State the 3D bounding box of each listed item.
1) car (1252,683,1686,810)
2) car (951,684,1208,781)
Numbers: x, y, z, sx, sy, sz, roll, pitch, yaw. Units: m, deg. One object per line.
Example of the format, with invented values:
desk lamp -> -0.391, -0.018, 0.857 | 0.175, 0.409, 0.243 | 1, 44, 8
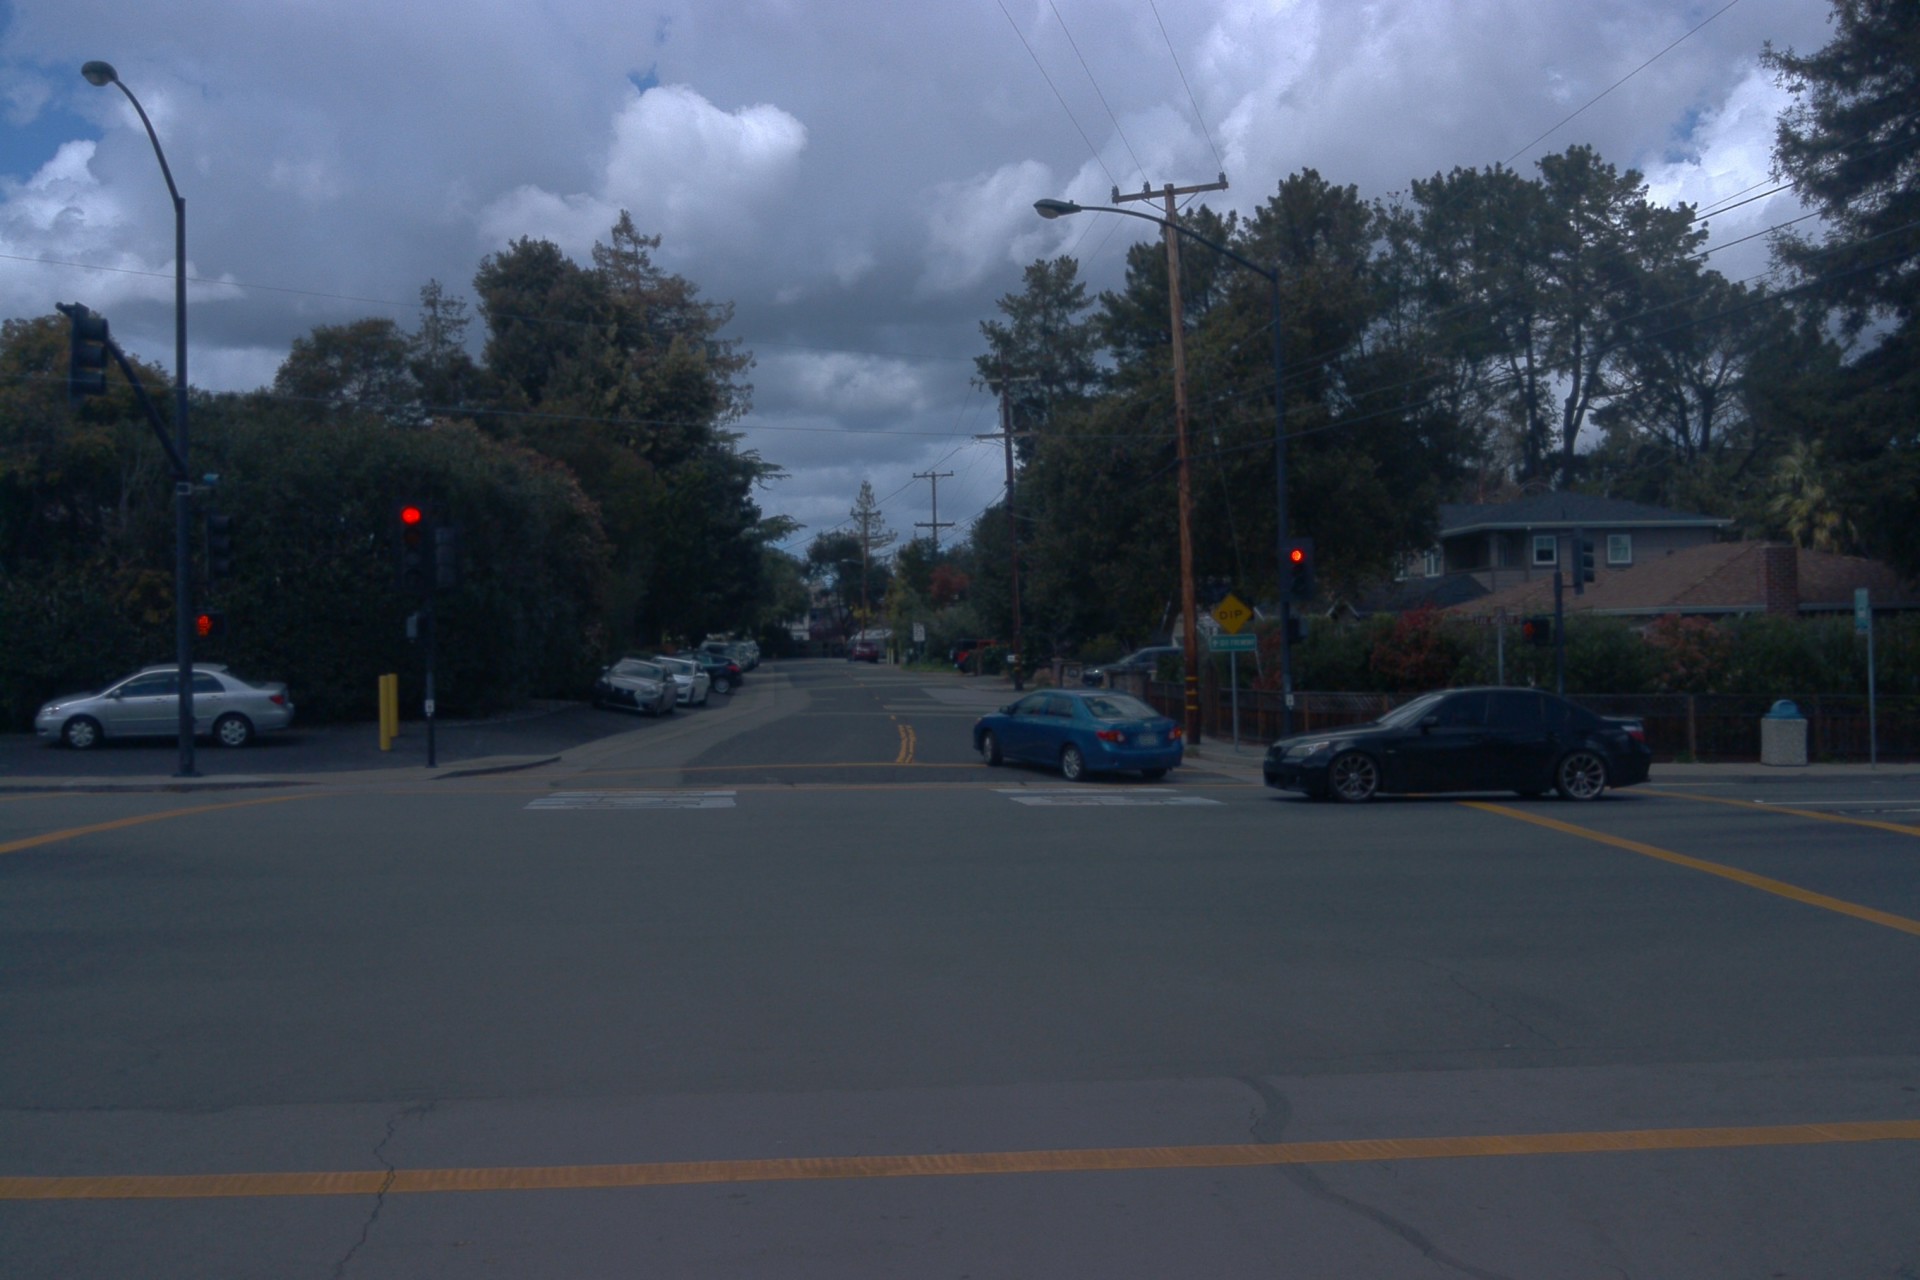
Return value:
car -> 6.297, 1.296, 26.115 | 4.831, 1.490, 2.134 | 0, -1, -7
car -> 1.913, 1.493, 34.918 | 2.001, 1.470, 4.674 | 1, -1, -31
